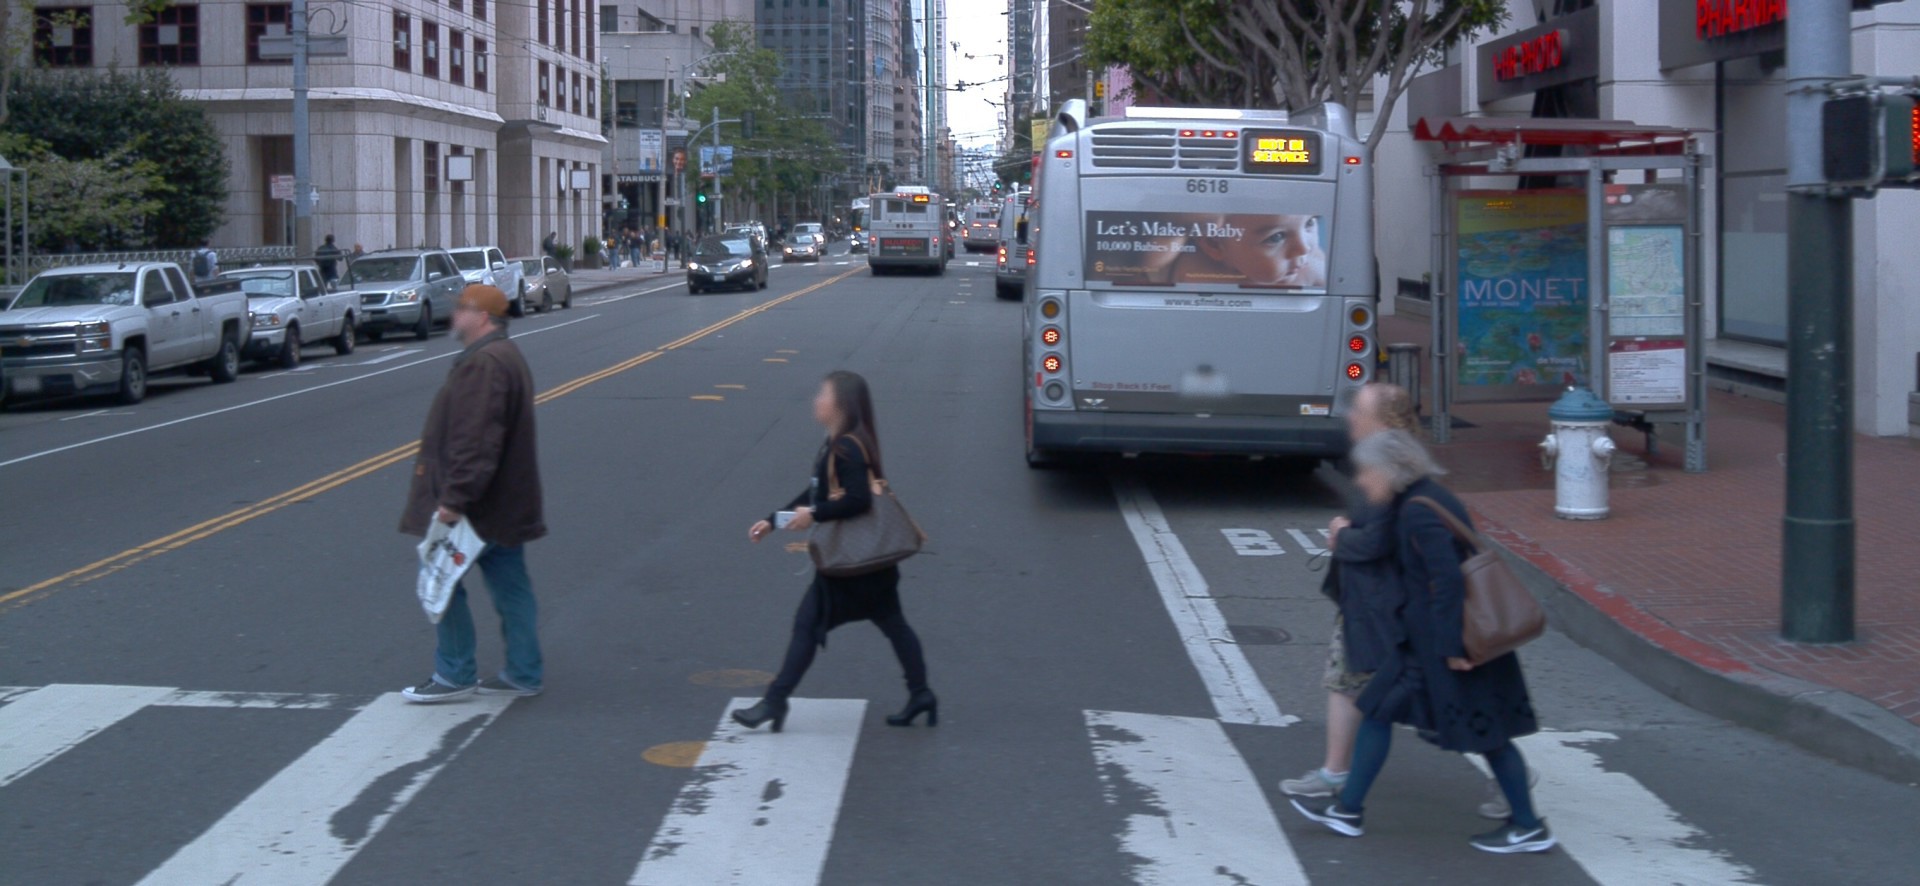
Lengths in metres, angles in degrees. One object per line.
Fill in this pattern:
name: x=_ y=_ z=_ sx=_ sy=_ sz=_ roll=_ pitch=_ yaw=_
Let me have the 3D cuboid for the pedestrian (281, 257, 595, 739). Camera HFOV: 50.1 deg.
pedestrian: x=-2.237 y=0.181 z=8.952 sx=1.146 sy=1.968 sz=0.957 roll=0 pitch=1 yaw=-2

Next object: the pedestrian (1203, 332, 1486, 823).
pedestrian: x=1.420 y=0.461 z=7.716 sx=0.915 sy=1.715 sz=0.743 roll=0 pitch=1 yaw=-1

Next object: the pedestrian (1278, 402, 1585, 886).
pedestrian: x=1.569 y=0.670 z=6.967 sx=0.893 sy=1.555 sz=0.782 roll=0 pitch=1 yaw=3

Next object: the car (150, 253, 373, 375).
car: x=-11.545 y=-2.236 z=34.386 sx=2.064 sy=1.843 sz=5.283 roll=0 pitch=5 yaw=-2

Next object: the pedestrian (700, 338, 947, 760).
pedestrian: x=-0.553 y=0.392 z=8.509 sx=0.966 sy=1.605 sz=0.875 roll=0 pitch=1 yaw=-3
